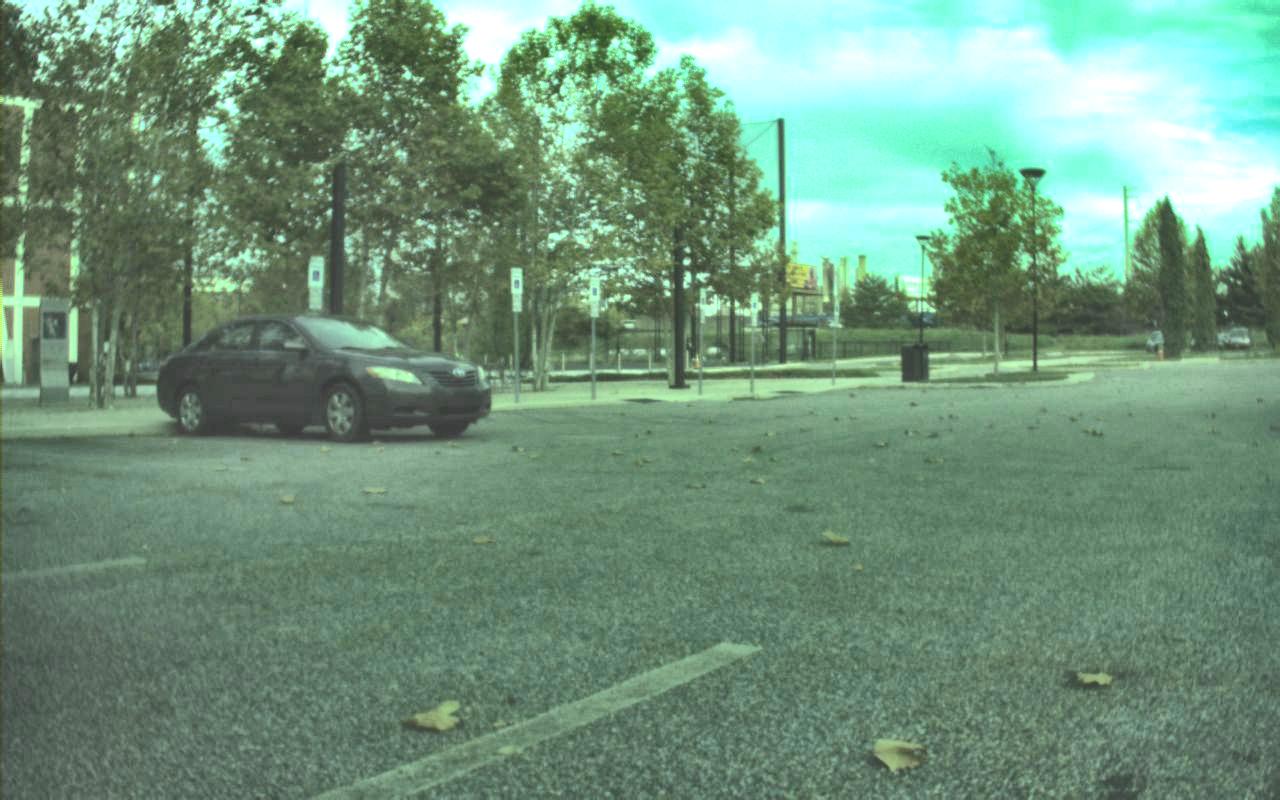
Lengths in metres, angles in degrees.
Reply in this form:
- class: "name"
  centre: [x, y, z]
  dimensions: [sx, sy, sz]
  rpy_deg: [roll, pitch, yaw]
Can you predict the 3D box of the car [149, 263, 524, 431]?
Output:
- class: "car"
  centre: [-3.724, -0.581, 14.258]
  dimensions: [4.577, 1.637, 2.026]
  rpy_deg: [1, 1, 36]
